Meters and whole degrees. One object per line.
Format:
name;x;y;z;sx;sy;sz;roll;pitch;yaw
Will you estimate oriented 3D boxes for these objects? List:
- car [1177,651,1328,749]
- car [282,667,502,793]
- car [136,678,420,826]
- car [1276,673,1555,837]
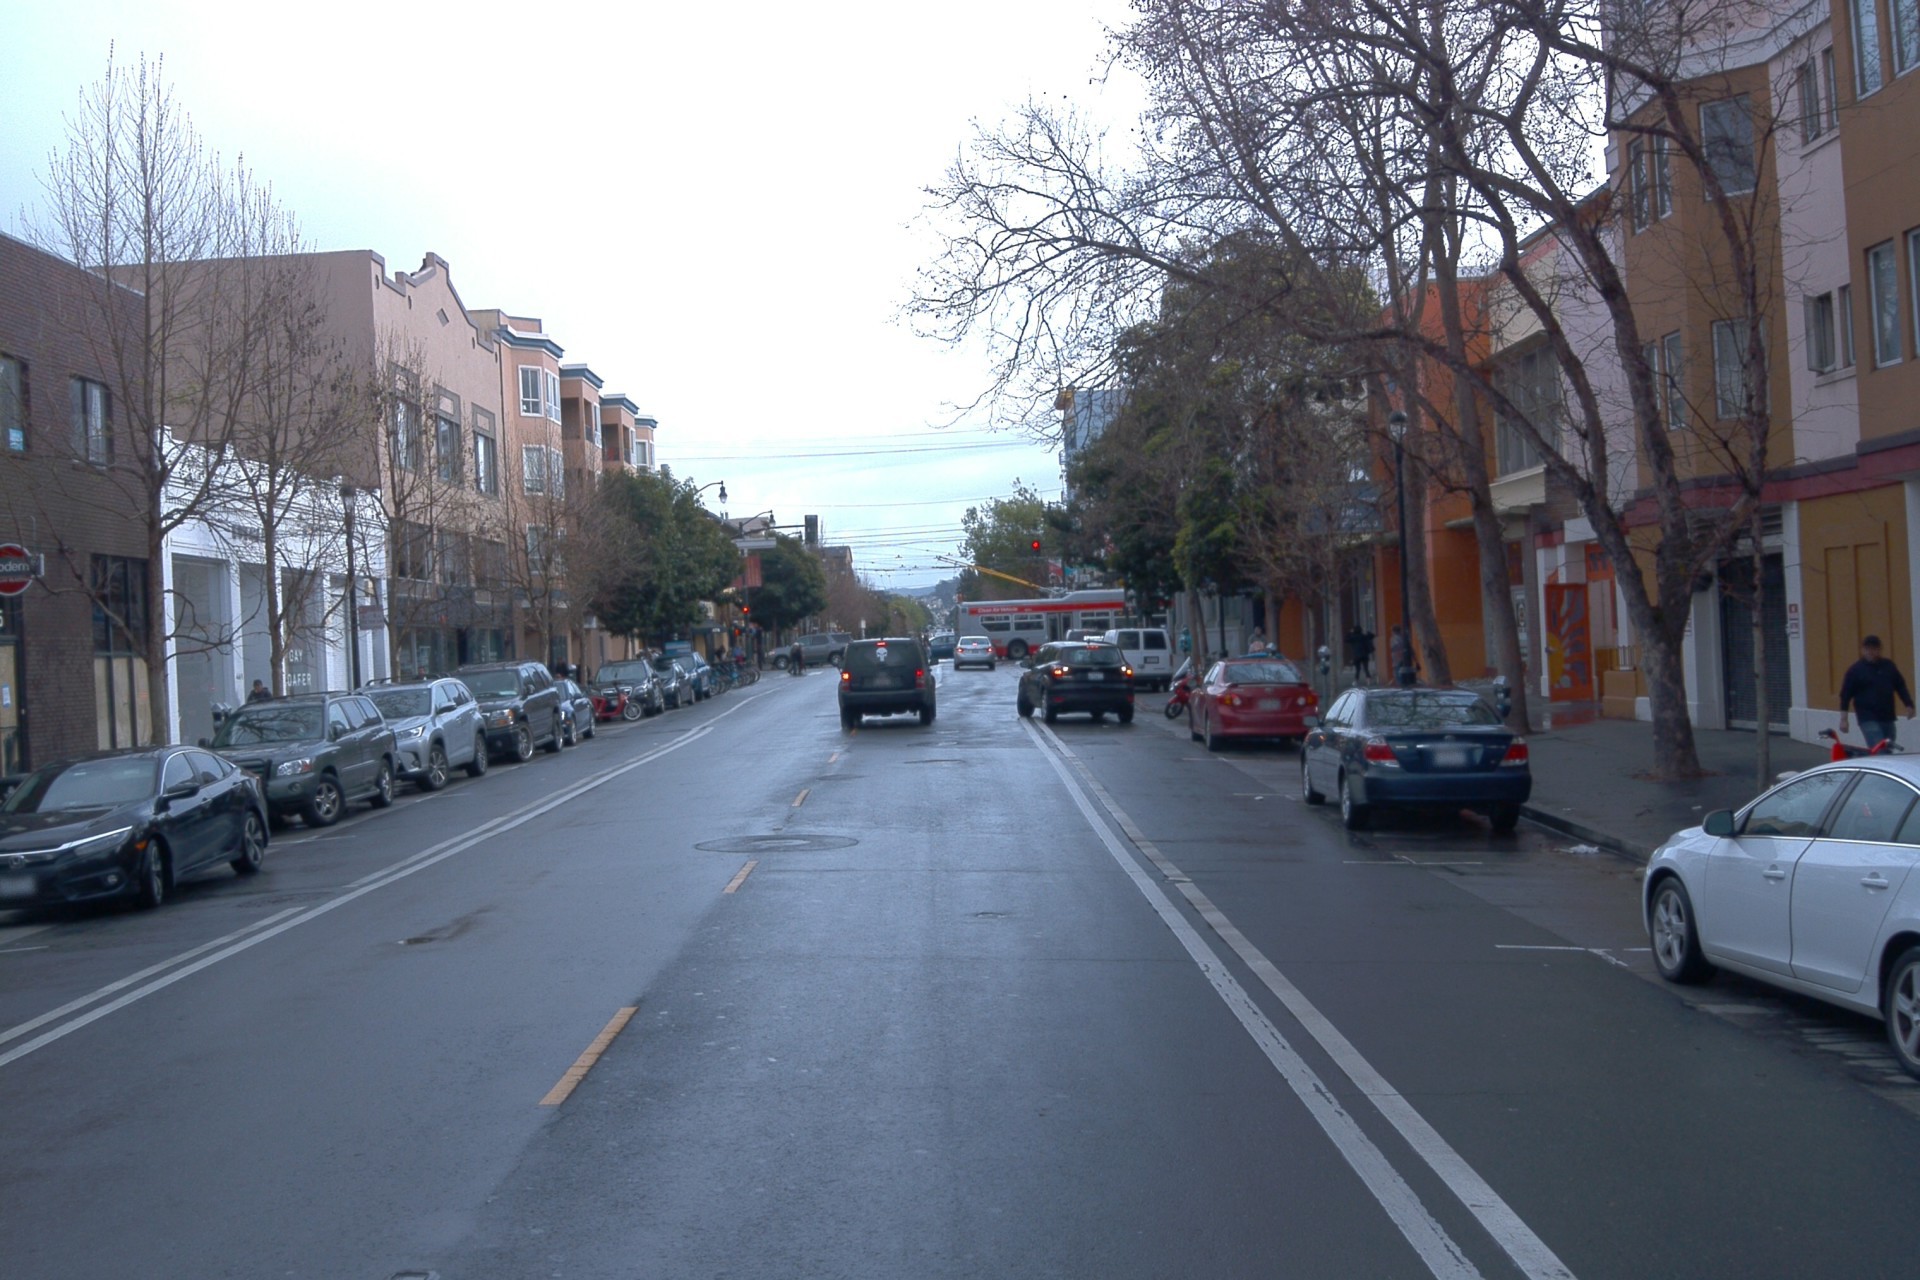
car;4.769;0.941;33.895;1.872;1.470;4.354;1;0;0
car;-9.002;1.368;32.900;2.203;1.760;4.984;1;0;-1
car;-8.993;1.419;27.472;2.172;1.670;4.944;1;0;0
car;4.874;1.174;22.611;2.022;1.490;4.839;1;0;0
